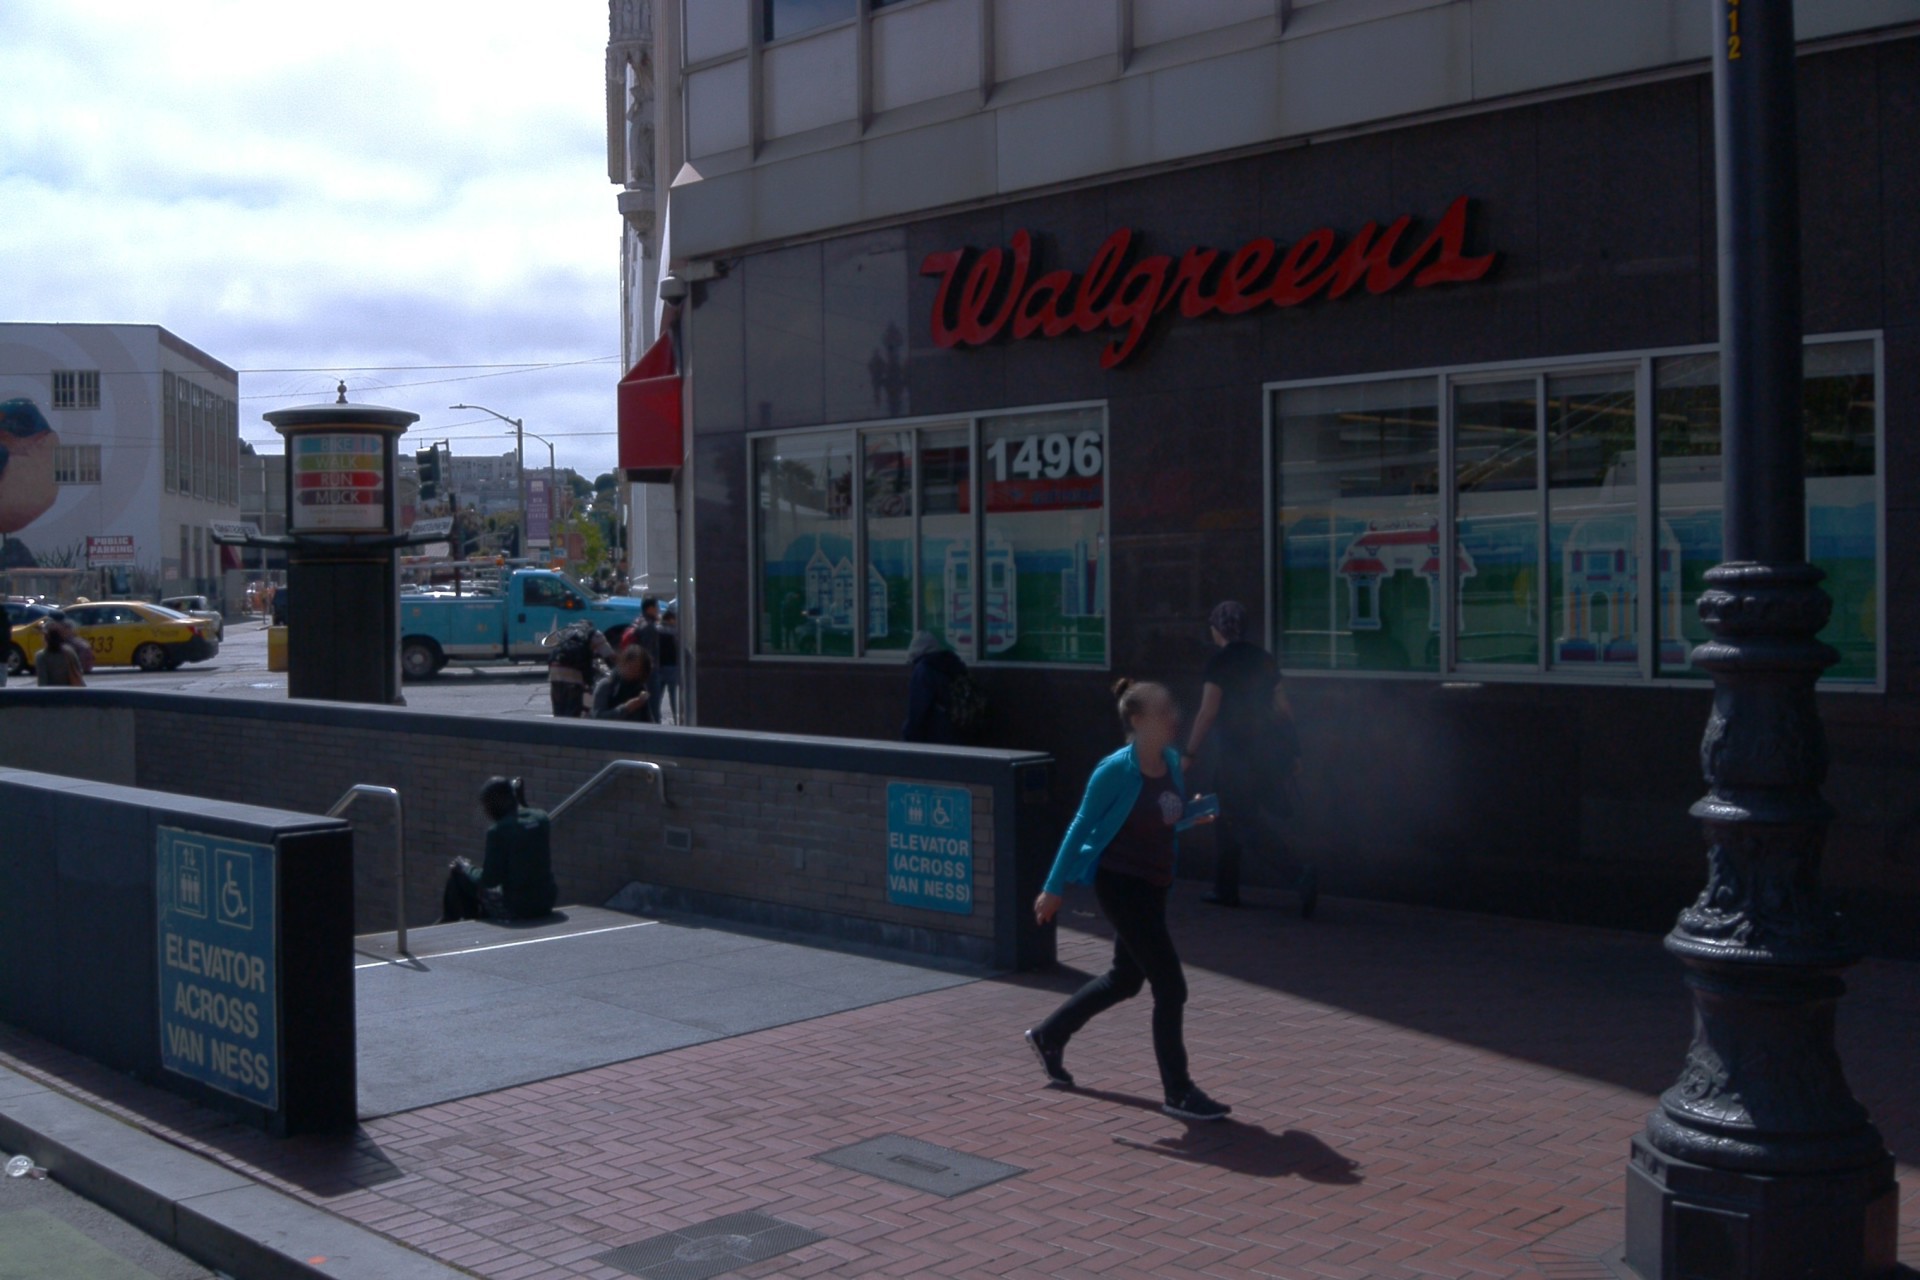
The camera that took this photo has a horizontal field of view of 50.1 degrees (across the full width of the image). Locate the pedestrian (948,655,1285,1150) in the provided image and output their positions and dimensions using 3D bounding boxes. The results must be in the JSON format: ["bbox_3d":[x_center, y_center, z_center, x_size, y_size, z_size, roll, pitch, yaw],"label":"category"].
[{"bbox_3d":[0.603,0.939,7.928,1.058,1.740,0.746,0,0,36],"label":"pedestrian"}]

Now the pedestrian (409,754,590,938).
[{"bbox_3d":[-2.816,1.230,12.552,0.698,1.000,0.907,0,0,-45],"label":"pedestrian"}]

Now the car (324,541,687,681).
[{"bbox_3d":[-8.150,-0.526,37.402,6.228,2.420,2.609,0,0,-9],"label":"car"}]

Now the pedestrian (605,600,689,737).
[{"bbox_3d":[-3.902,0.337,25.606,0.888,1.670,0.848,0,0,-18],"label":"pedestrian"}]

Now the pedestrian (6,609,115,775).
[{"bbox_3d":[-9.701,0.541,22.173,0.862,1.740,0.752,0,0,38],"label":"pedestrian"}]

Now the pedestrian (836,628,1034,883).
[{"bbox_3d":[-0.178,0.760,14.292,1.061,1.680,0.875,0,0,45],"label":"pedestrian"}]

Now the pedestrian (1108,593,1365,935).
[{"bbox_3d":[1.630,0.680,12.164,0.912,1.900,1.192,0,0,-43],"label":"pedestrian"}]

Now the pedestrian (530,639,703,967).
[{"bbox_3d":[-2.424,1.101,14.487,0.961,2.200,0.775,0,0,45],"label":"pedestrian"}]
